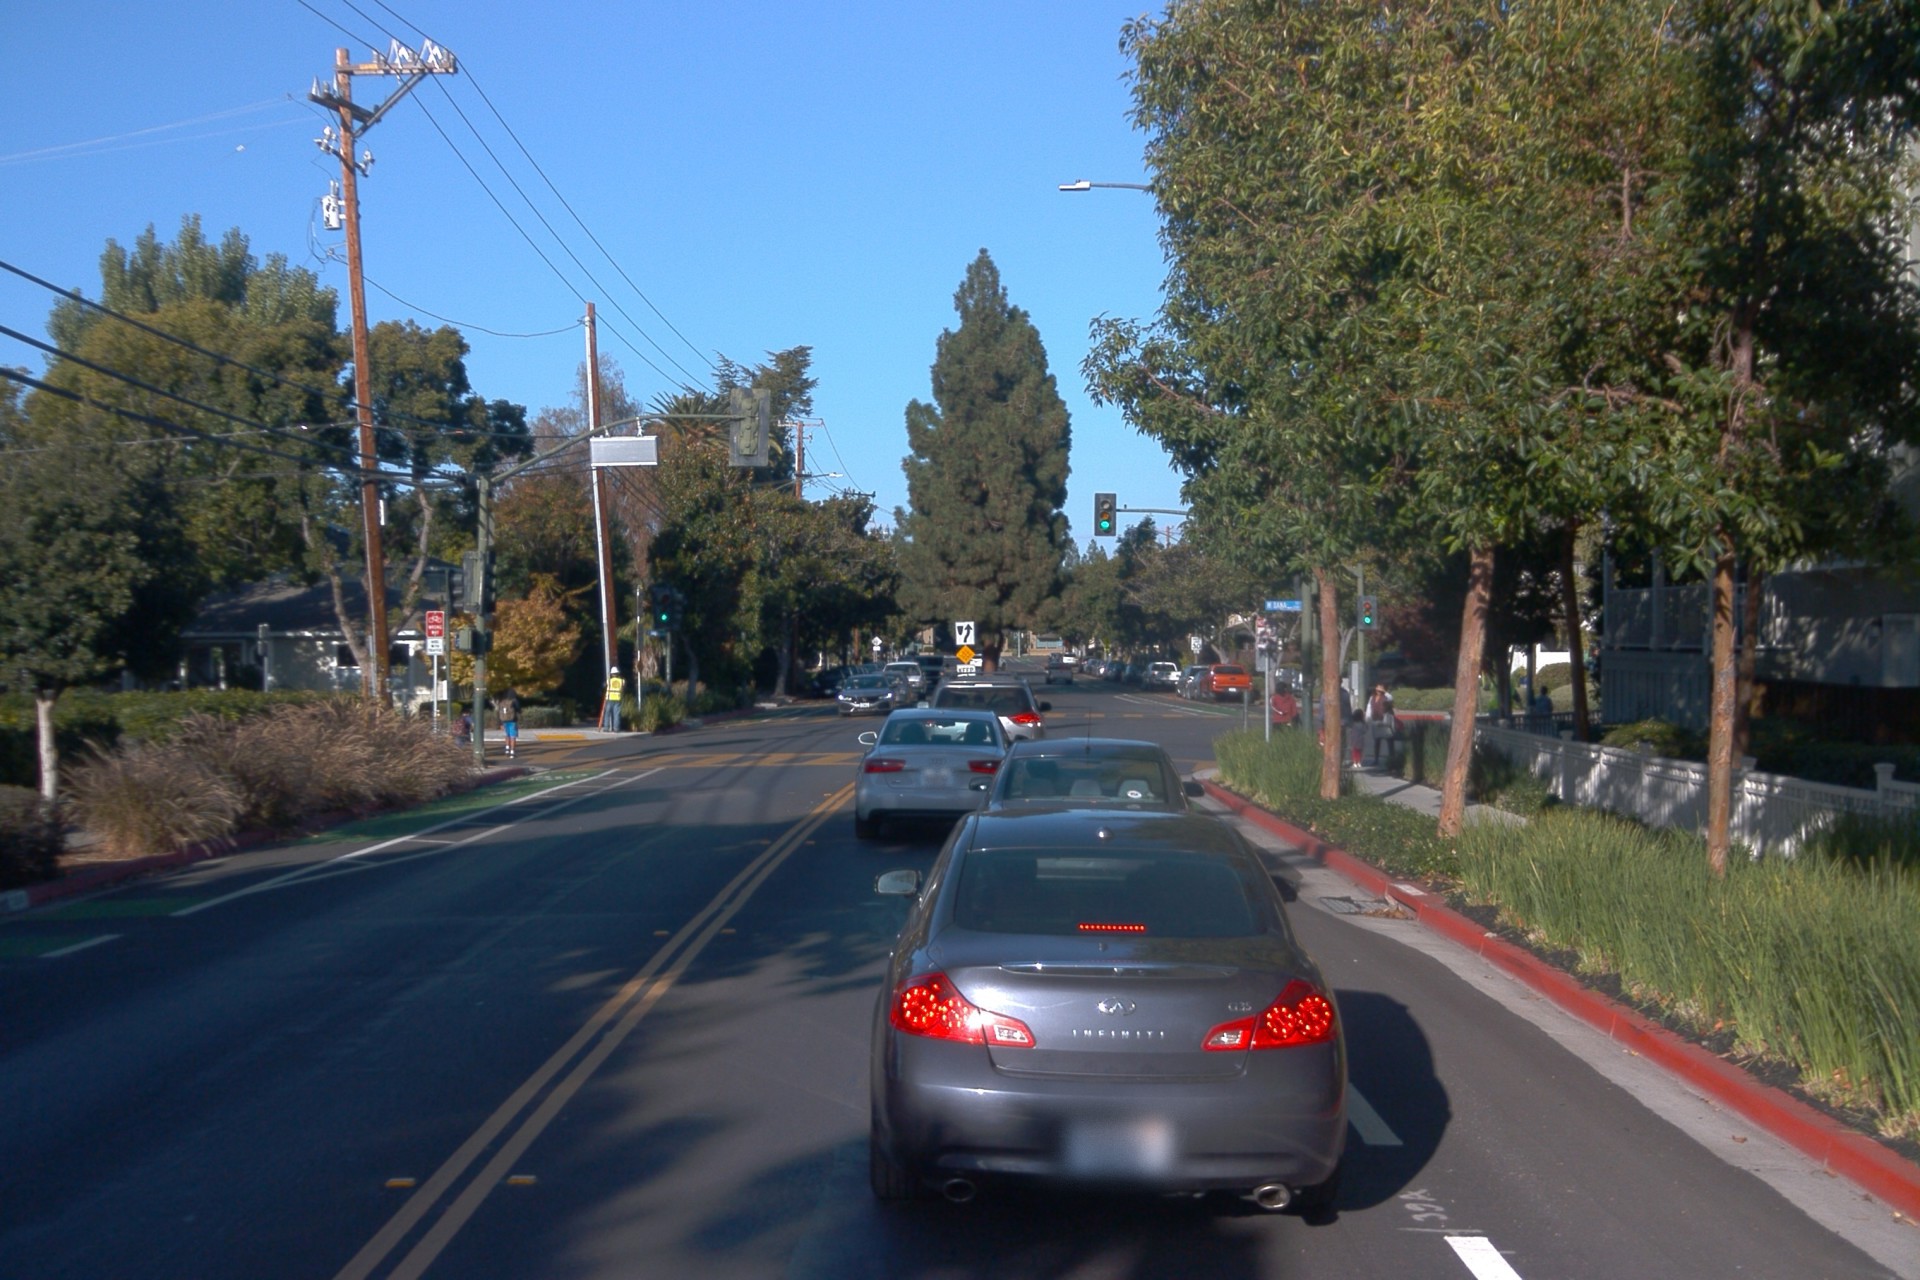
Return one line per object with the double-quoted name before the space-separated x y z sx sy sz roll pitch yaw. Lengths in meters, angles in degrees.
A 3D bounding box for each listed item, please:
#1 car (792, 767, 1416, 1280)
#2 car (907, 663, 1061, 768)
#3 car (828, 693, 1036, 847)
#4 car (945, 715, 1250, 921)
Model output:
"car" 0.567 1.432 9.064 2.033 1.460 4.435 1 0 3
"car" 0.395 1.167 33.745 2.317 1.510 4.744 1 0 1
"car" -0.219 1.438 24.283 2.122 1.500 4.397 1 0 3
"car" 0.988 1.268 15.969 2.028 1.210 4.035 1 0 2
